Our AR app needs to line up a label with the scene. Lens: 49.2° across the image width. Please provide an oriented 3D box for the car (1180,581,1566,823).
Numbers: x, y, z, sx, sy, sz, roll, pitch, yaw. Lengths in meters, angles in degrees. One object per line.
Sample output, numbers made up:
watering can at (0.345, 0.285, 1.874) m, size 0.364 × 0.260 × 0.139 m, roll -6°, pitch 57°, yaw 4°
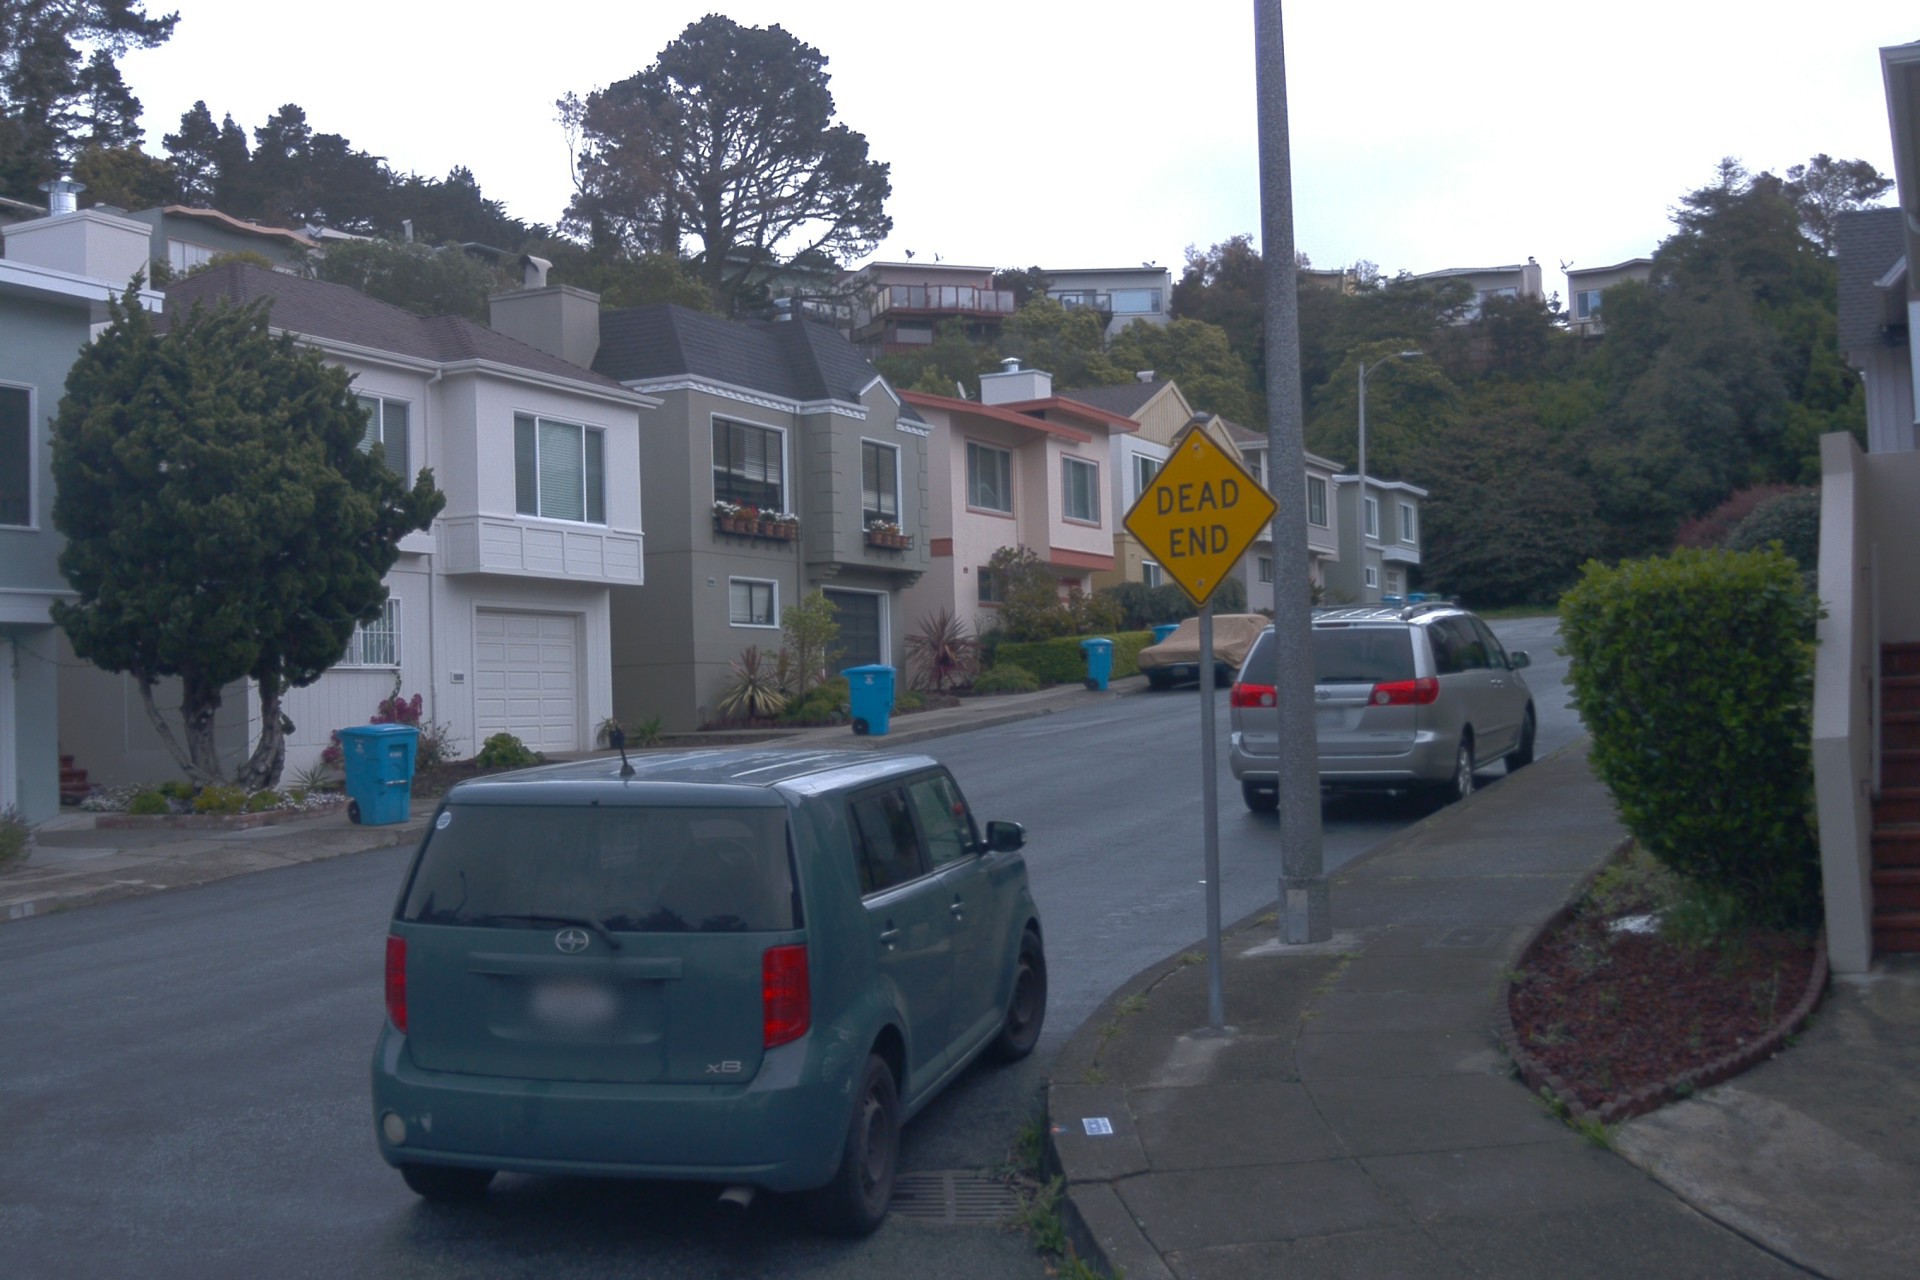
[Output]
car at (4.036, 0.513, 19.697) m, size 2.414 × 1.960 × 4.910 m, roll 1°, pitch 0°, yaw 25°

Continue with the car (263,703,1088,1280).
car at (-0.829, 1.215, 8.768) m, size 2.031 × 1.770 × 4.267 m, roll 1°, pitch 0°, yaw 13°
